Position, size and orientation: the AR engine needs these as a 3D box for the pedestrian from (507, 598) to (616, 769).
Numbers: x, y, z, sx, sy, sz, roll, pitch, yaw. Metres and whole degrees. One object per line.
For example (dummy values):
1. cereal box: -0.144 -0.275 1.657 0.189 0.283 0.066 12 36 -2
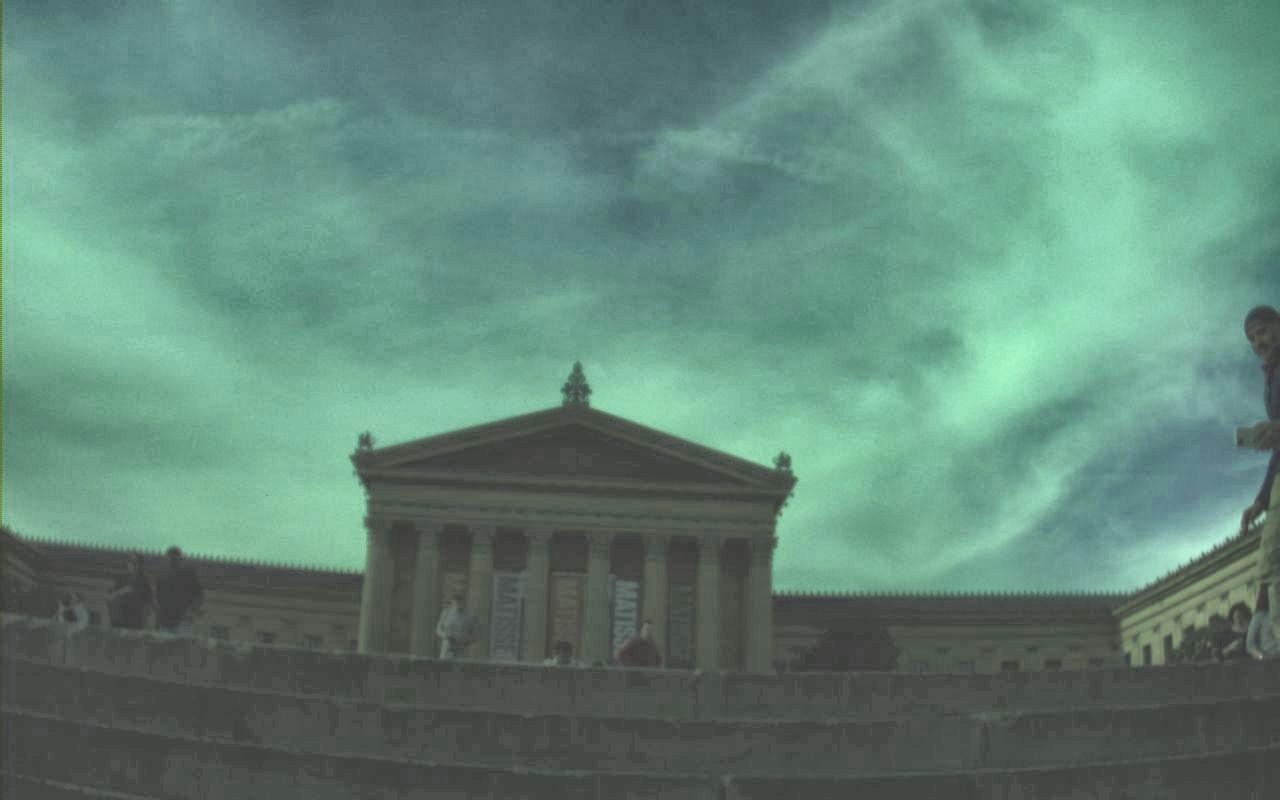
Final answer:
1. pedestrian: -0.853 3.060 13.326 0.822 1.655 0.844 0 0 -43

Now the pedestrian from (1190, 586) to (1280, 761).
1. pedestrian: 6.473 3.003 12.063 0.819 1.771 0.847 1 0 30

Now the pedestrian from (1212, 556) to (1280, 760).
1. pedestrian: 5.620 2.336 9.862 0.747 1.718 0.766 0 0 13

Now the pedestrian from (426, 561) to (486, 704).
1. pedestrian: -2.442 3.074 16.228 0.669 1.814 0.671 0 0 -17

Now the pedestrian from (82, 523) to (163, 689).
1. pedestrian: -5.824 2.328 12.828 0.772 1.754 0.743 0 0 -31

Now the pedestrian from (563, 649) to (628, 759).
1. pedestrian: -0.790 5.314 21.433 0.924 1.754 0.833 0 0 -21

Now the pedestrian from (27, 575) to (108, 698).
1. pedestrian: -9.197 3.833 17.897 0.912 1.781 0.883 1 0 16

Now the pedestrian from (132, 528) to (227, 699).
1. pedestrian: -5.092 2.367 12.874 0.761 1.751 0.750 0 0 6

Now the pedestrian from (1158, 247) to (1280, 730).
1. pedestrian: 2.565 0.358 4.556 0.767 1.840 0.748 0 0 14

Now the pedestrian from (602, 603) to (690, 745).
1. pedestrian: 0.065 3.812 17.199 0.853 1.795 0.875 0 0 -41
